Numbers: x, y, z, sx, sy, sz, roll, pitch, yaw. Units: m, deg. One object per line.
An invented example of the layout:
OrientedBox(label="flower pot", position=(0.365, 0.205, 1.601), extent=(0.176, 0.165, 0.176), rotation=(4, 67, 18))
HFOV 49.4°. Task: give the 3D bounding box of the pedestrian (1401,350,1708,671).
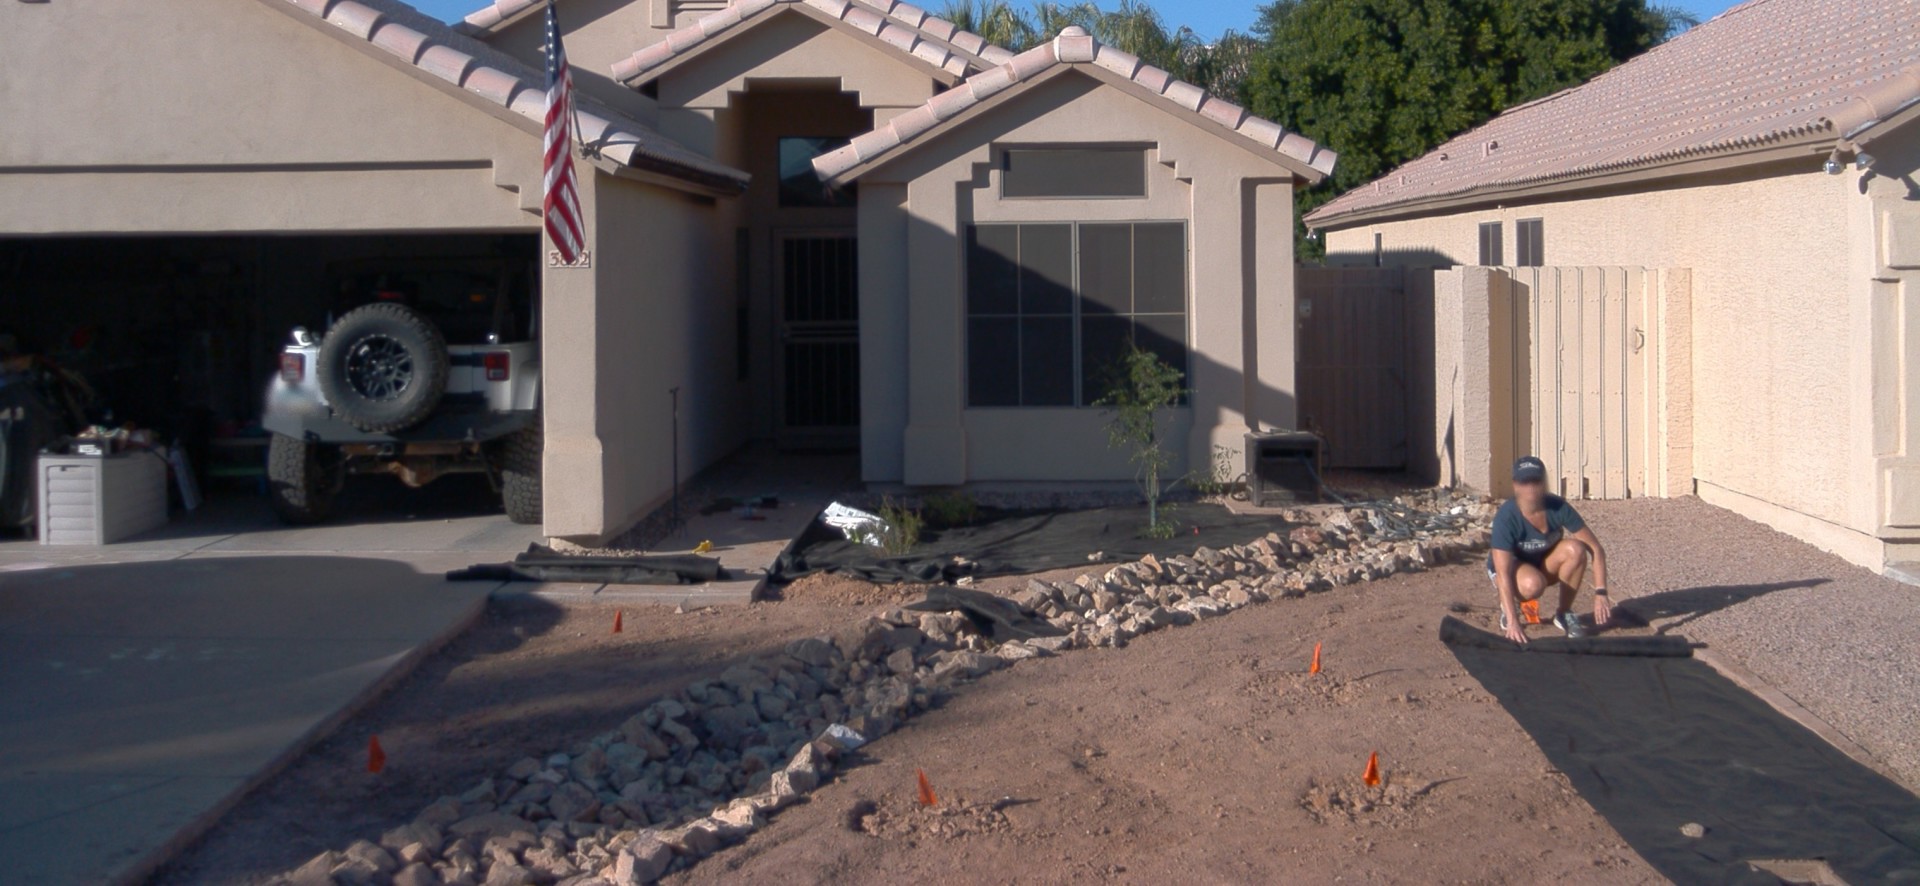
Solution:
OrientedBox(label="pedestrian", position=(3.025, 0.300, 10.795), extent=(1.265, 1.490, 1.312), rotation=(0, 2, 3))

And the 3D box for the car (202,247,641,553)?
OrientedBox(label="car", position=(-3.991, -0.507, 16.398), extent=(2.110, 2.034, 4.678), rotation=(-1, 4, 2))
